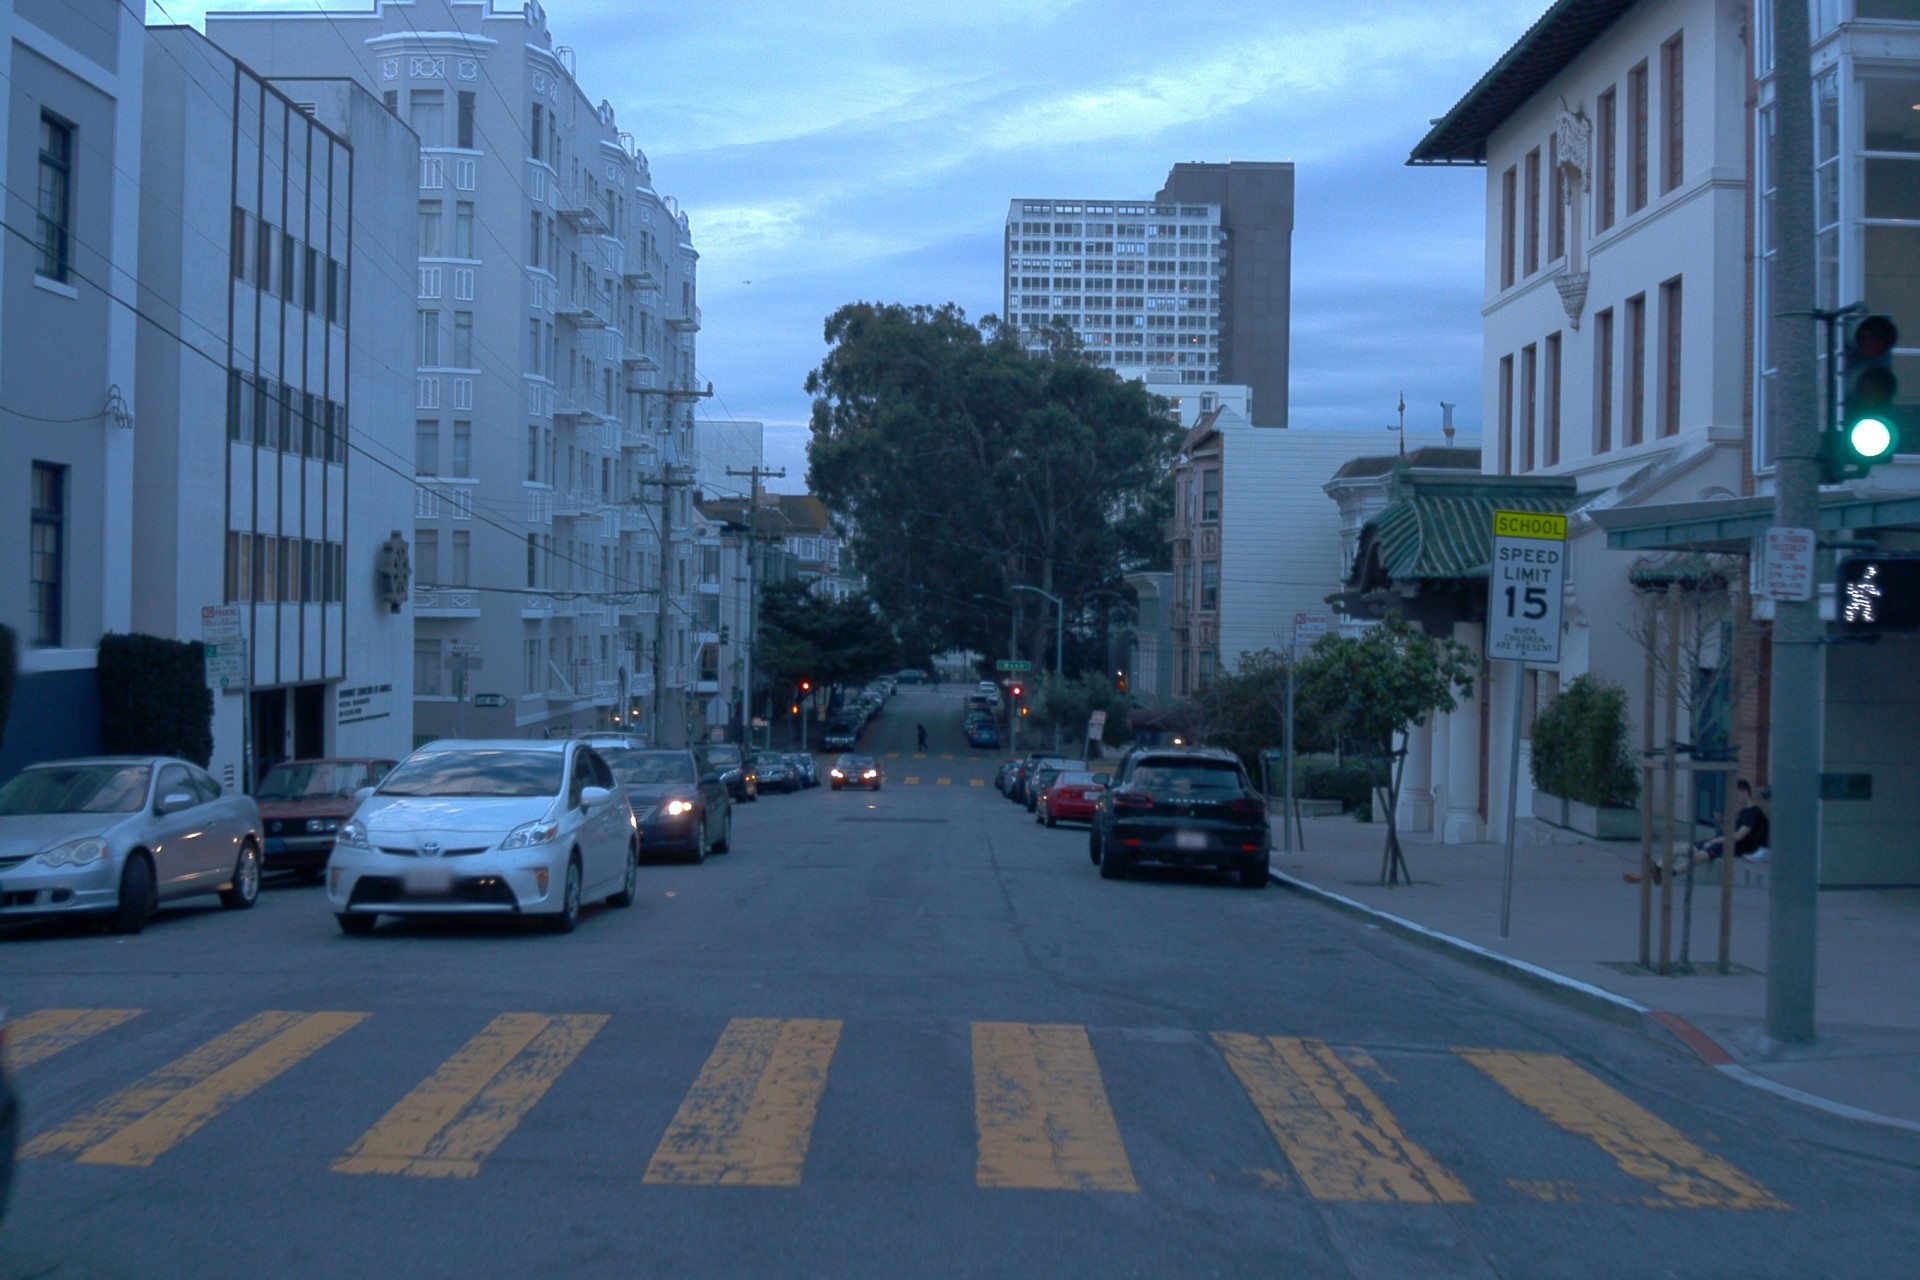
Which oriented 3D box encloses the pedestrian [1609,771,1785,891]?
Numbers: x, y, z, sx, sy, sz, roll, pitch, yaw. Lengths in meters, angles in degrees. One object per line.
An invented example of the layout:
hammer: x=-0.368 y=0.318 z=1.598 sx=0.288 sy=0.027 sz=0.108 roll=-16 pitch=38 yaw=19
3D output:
pedestrian: x=8.200 y=2.117 z=22.939 sx=1.524 sy=1.200 sz=1.090 roll=1 pitch=1 yaw=-1

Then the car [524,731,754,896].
car: x=-3.990 y=2.131 z=26.400 sx=2.146 sy=1.600 sz=4.698 roll=1 pitch=1 yaw=1

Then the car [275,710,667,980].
car: x=-3.691 y=1.491 z=16.414 sx=2.034 sy=1.600 sz=4.431 roll=1 pitch=1 yaw=0

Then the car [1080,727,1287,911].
car: x=2.657 y=2.116 z=25.540 sx=2.188 sy=1.760 sz=4.713 roll=1 pitch=1 yaw=2

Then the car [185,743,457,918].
car: x=-7.129 y=2.073 z=23.410 sx=1.774 sy=1.480 sz=4.408 roll=1 pitch=1 yaw=-1
